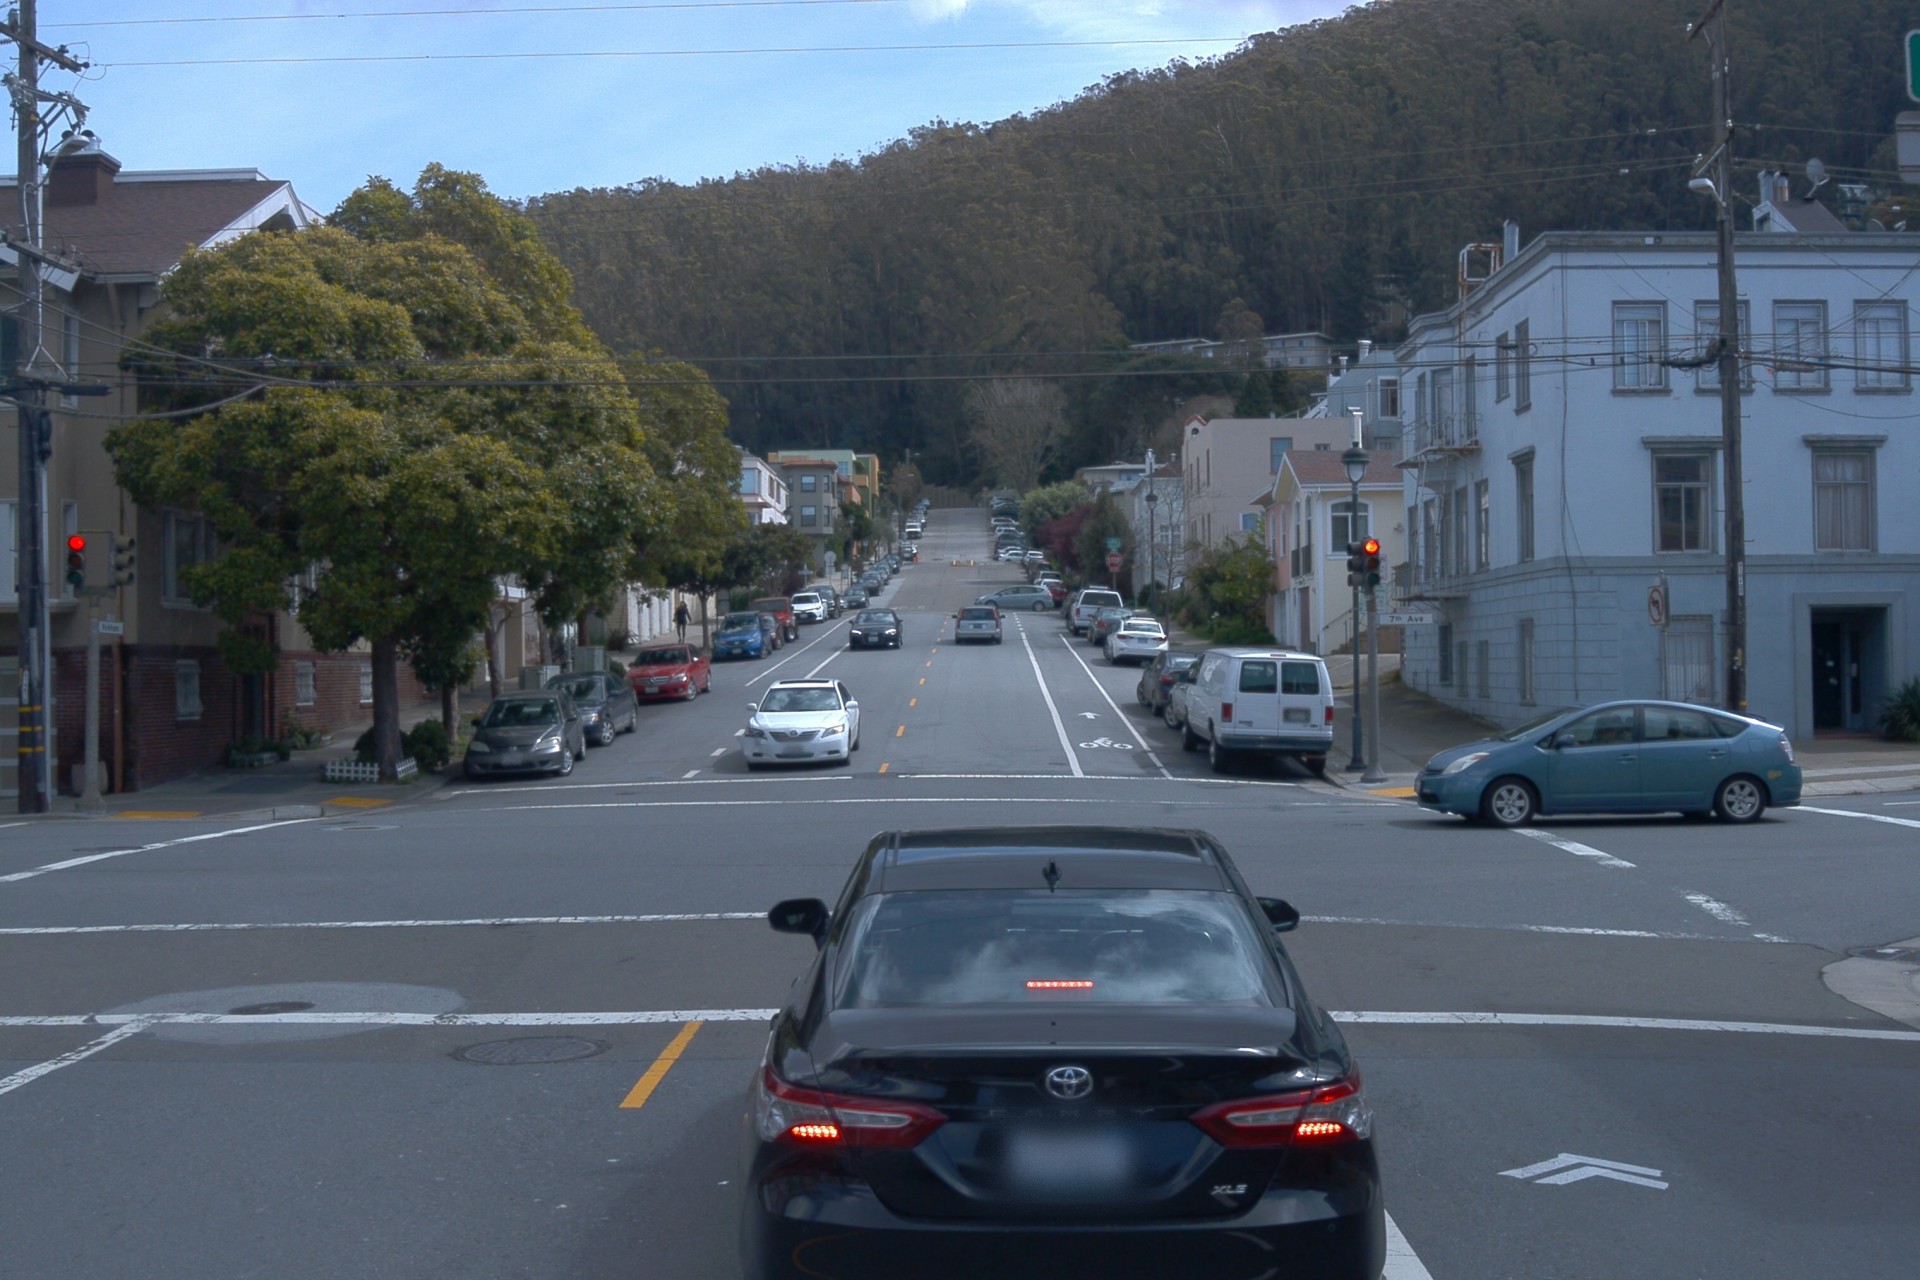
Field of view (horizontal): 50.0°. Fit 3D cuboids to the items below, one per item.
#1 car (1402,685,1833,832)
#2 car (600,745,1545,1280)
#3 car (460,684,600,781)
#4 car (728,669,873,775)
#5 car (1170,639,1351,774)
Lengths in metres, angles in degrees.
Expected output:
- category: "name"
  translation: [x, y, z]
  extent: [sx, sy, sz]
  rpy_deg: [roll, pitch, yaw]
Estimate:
- category: "car"
  translation: [7.582, 1.348, 24.082]
  extent: [4.413, 1.600, 1.991]
  rpy_deg: [0, 0, 0]
- category: "car"
  translation: [0.282, 1.304, 7.305]
  extent: [2.249, 1.620, 4.798]
  rpy_deg: [0, 0, 0]
- category: "car"
  translation: [-7.707, 1.620, 37.253]
  extent: [1.836, 1.560, 4.133]
  rpy_deg: [0, 0, -3]
- category: "car"
  translation: [-2.840, 1.445, 37.716]
  extent: [2.209, 1.750, 4.541]
  rpy_deg: [0, 0, 1]
- category: "car"
  translation: [5.313, 1.116, 37.229]
  extent: [2.299, 2.250, 5.313]
  rpy_deg: [0, 0, -2]
